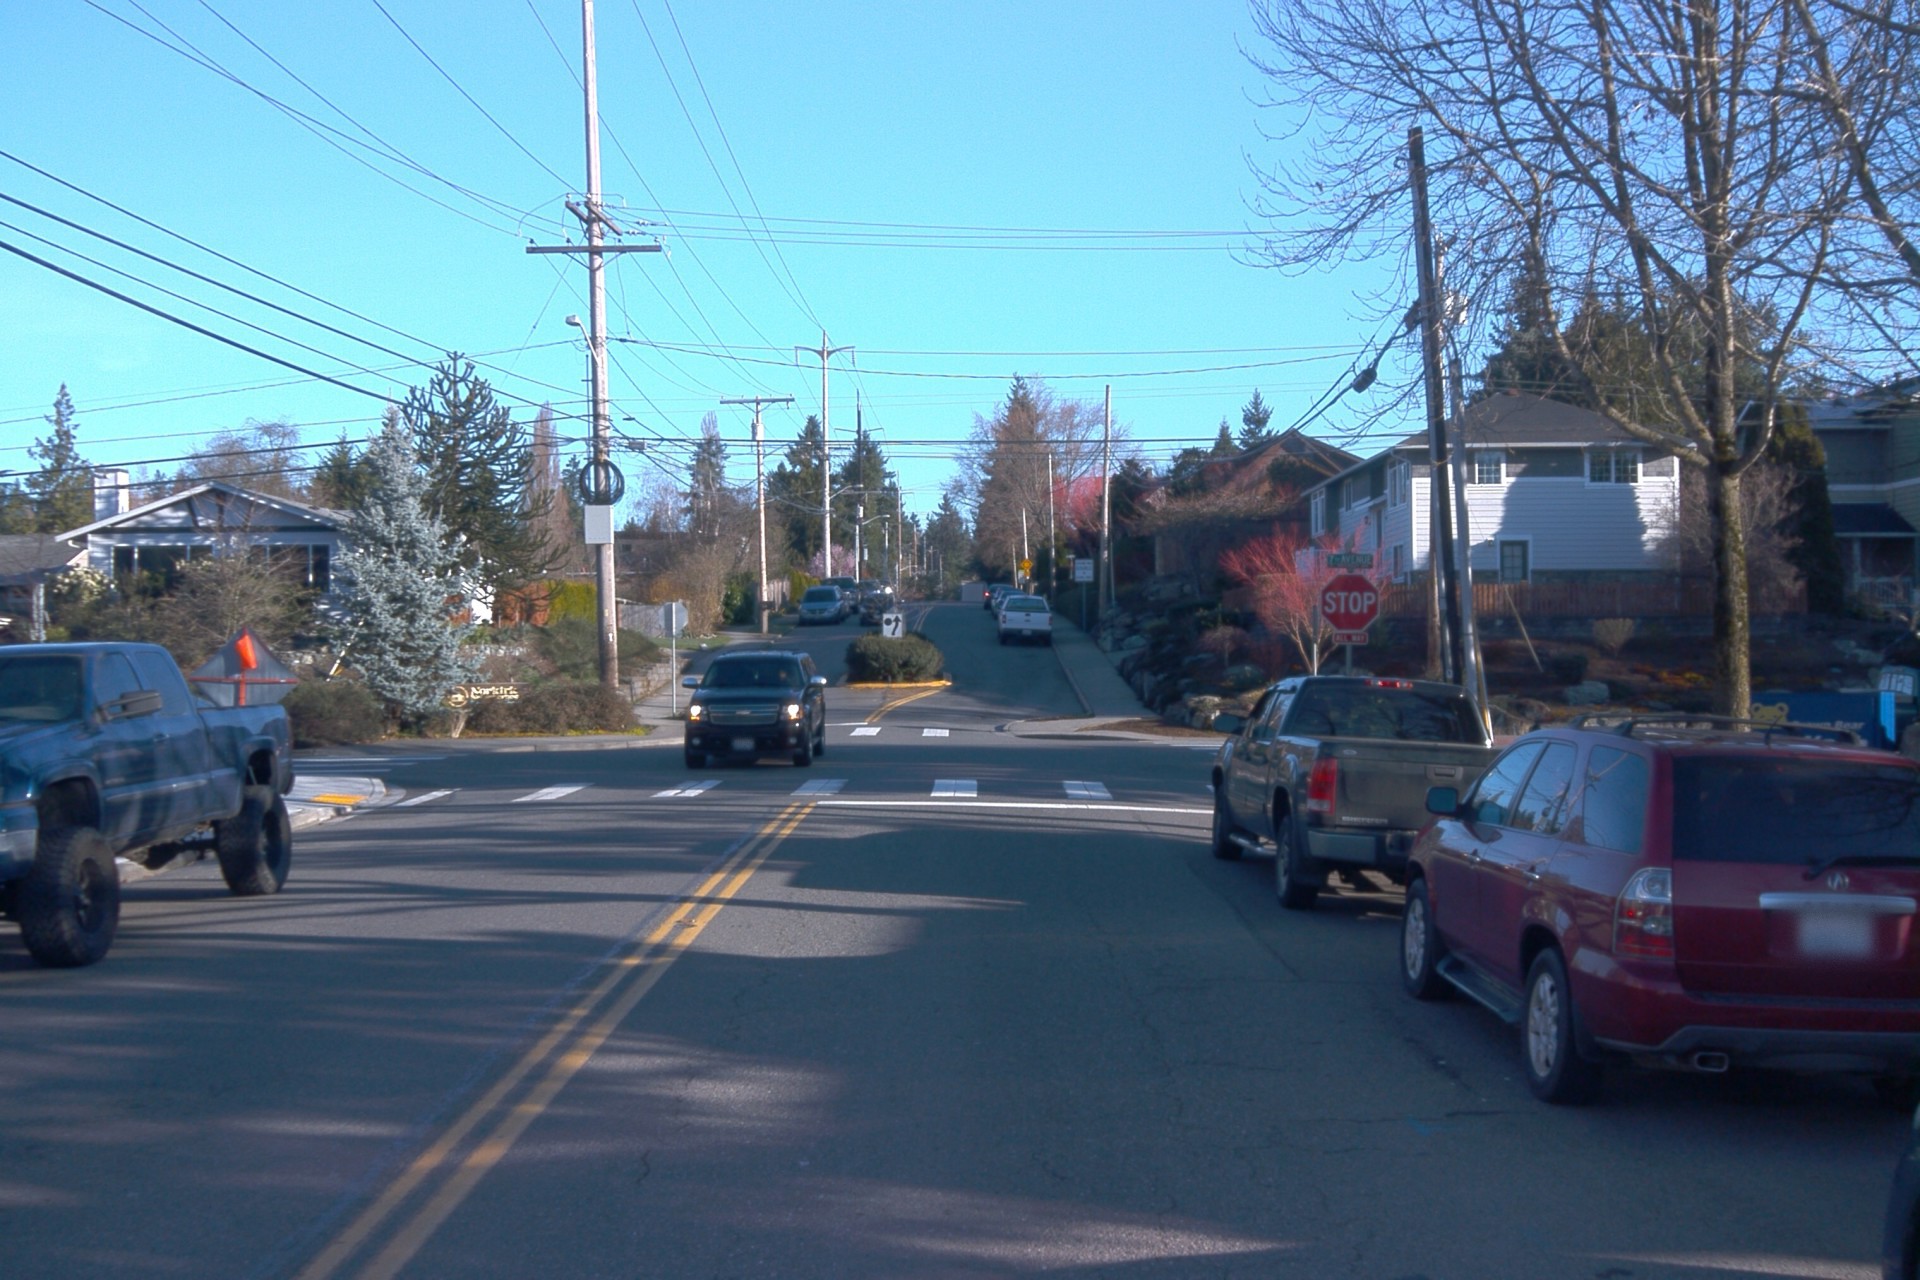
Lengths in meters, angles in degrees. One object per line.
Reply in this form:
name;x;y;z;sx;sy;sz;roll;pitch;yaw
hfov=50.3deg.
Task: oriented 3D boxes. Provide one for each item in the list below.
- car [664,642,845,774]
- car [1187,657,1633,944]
car;-3.398;1.075;34.981;2.500;2.010;5.434;1;0;0
car;3.579;1.186;17.734;2.530;1.950;5.913;1;0;0
